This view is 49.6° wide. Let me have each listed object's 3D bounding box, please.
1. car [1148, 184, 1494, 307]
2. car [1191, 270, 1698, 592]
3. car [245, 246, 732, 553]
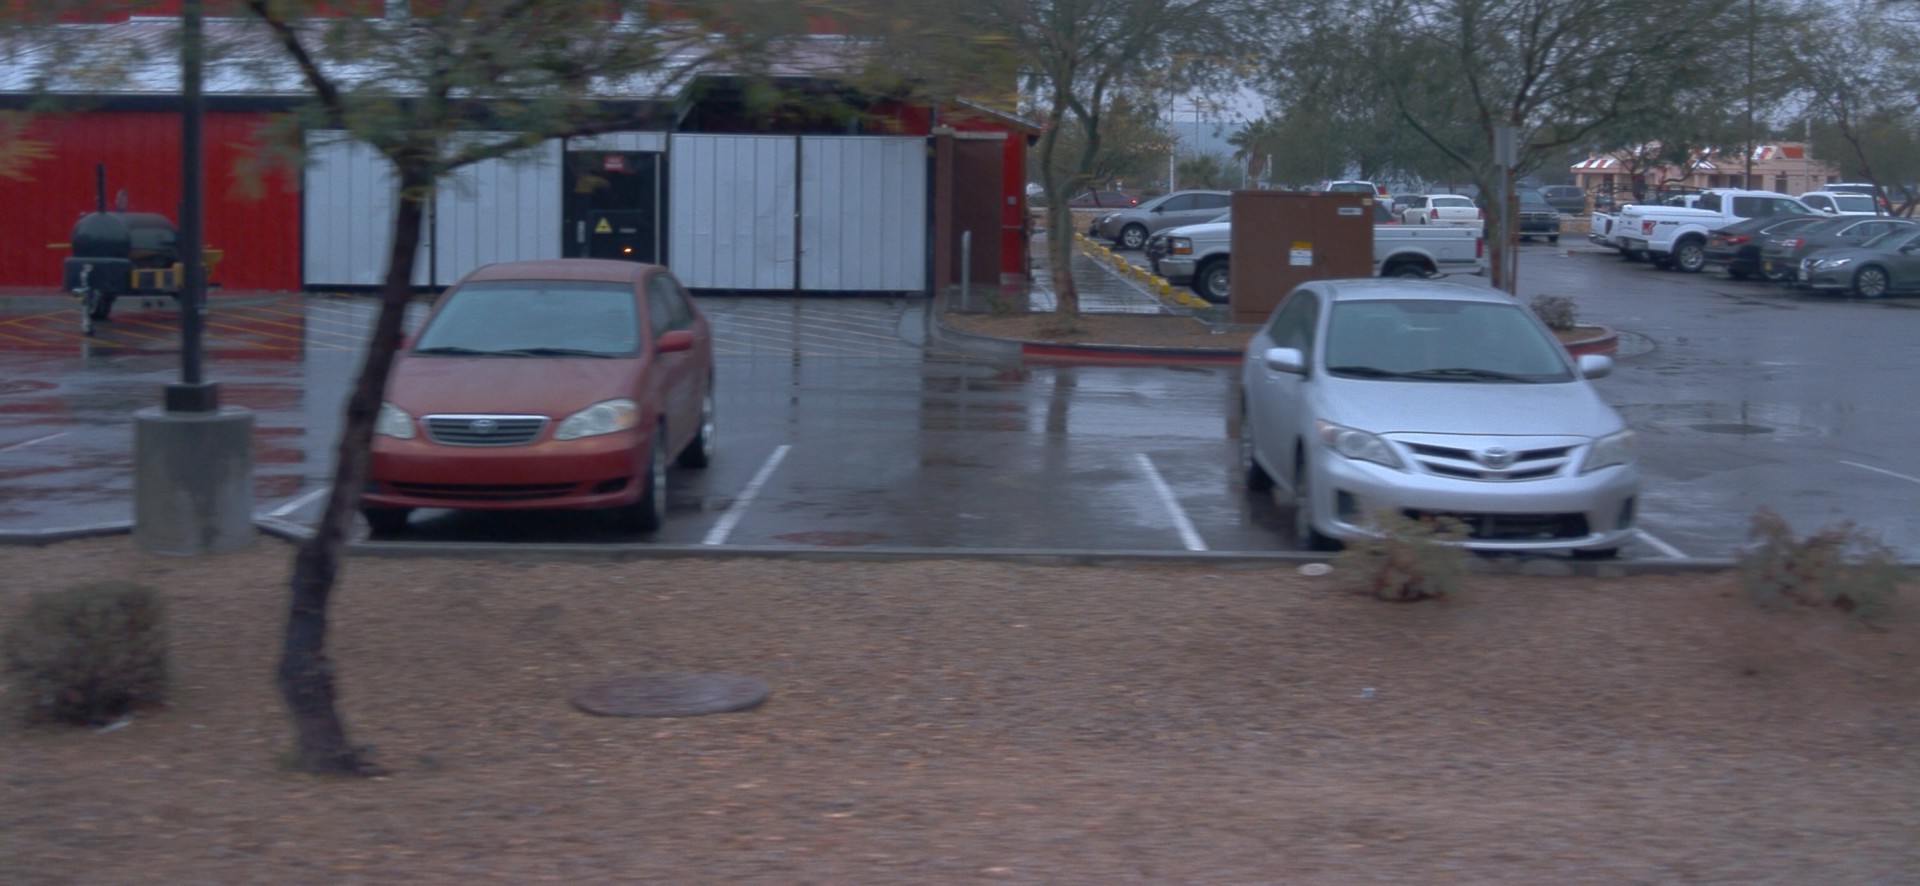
[{"bbox_3d":[5.739,-3.187,33.517,5.212,1.886,2.117,0,3,-1],"label":"car"},{"bbox_3d":[2.653,-0.251,12.617,2.070,1.484,4.702,0,5,1],"label":"car"},{"bbox_3d":[-2.708,-0.442,13.120,2.037,1.553,4.560,0,5,0],"label":"car"}]
